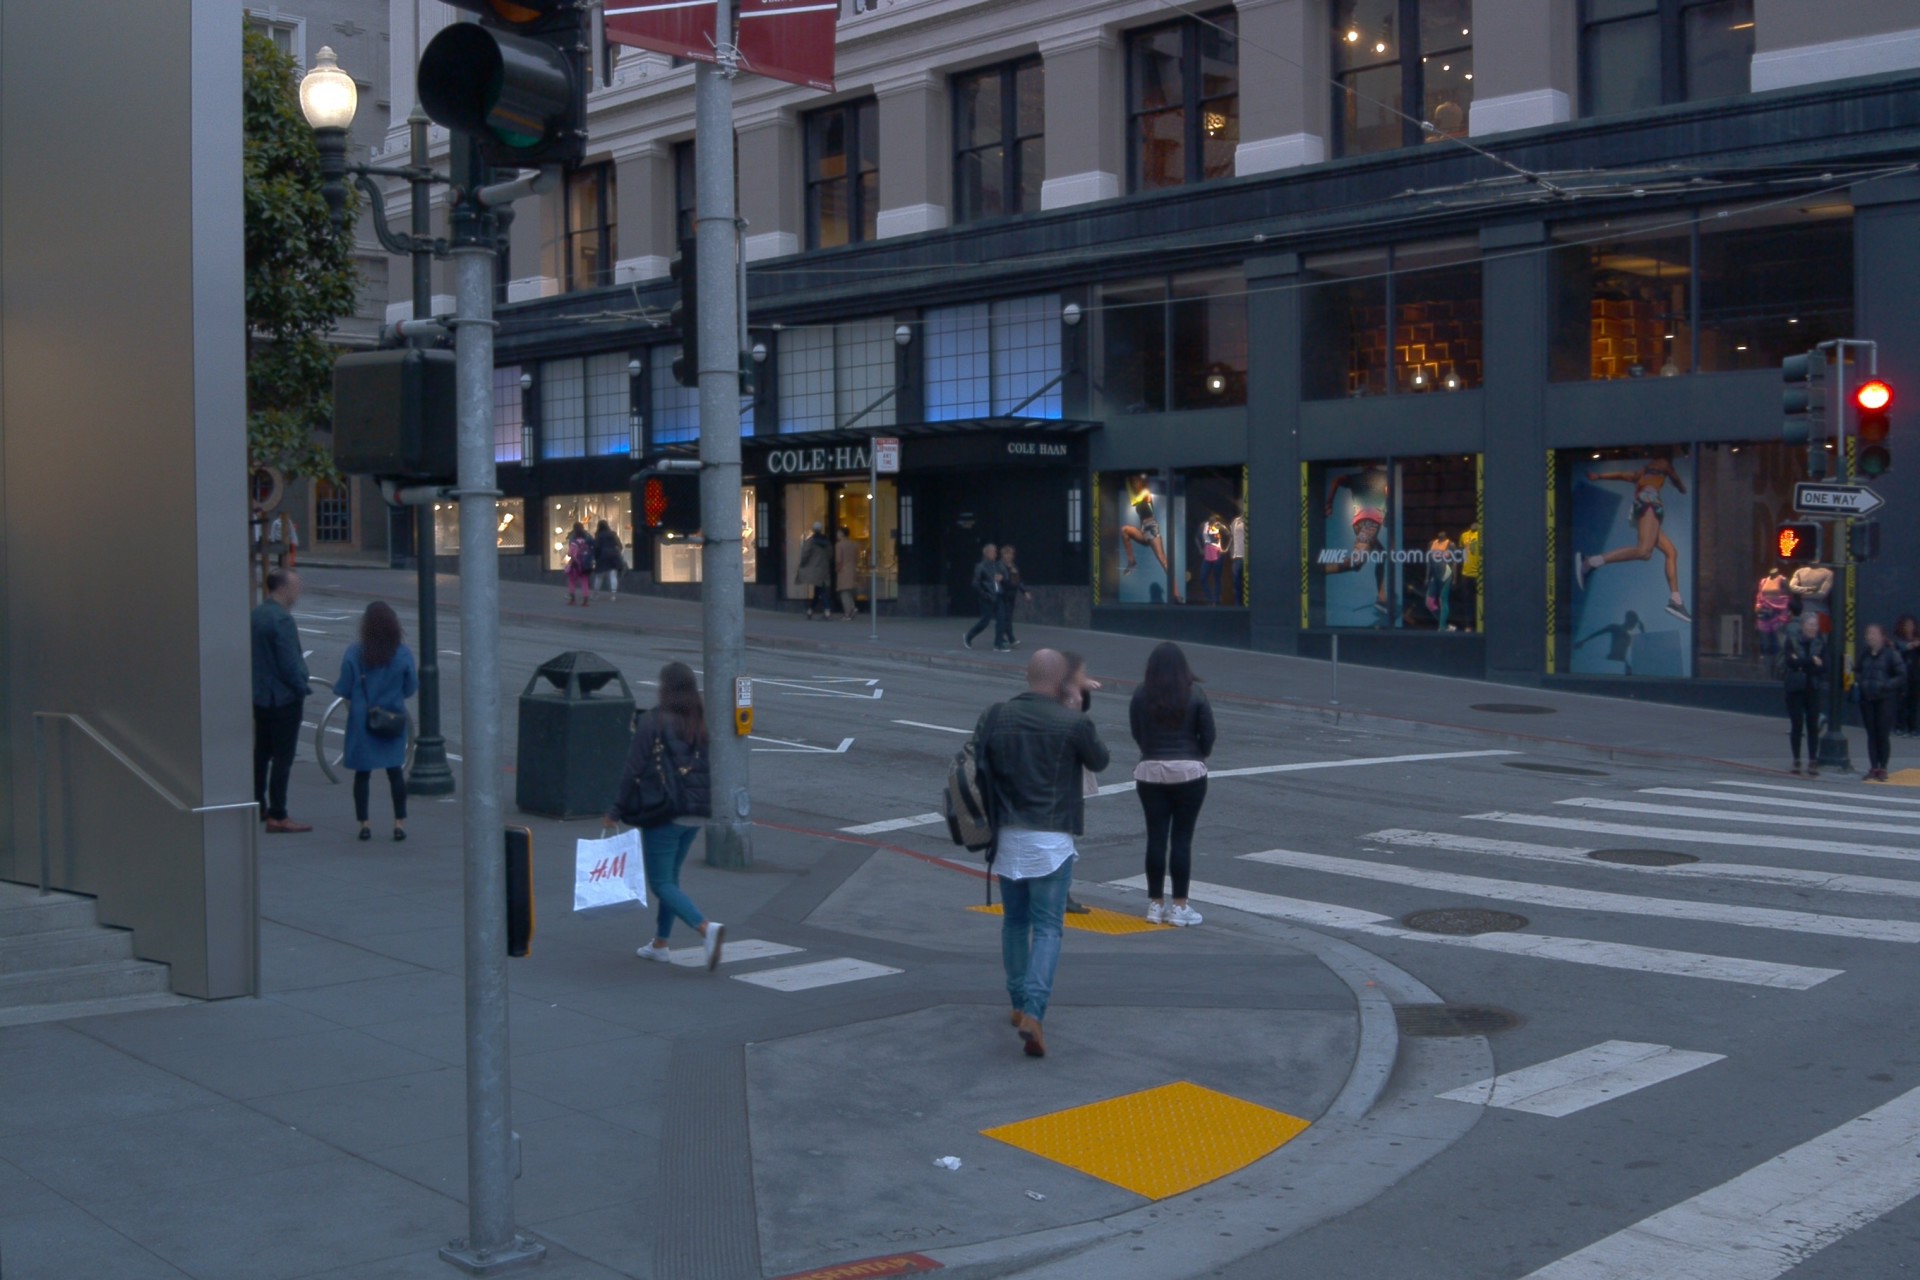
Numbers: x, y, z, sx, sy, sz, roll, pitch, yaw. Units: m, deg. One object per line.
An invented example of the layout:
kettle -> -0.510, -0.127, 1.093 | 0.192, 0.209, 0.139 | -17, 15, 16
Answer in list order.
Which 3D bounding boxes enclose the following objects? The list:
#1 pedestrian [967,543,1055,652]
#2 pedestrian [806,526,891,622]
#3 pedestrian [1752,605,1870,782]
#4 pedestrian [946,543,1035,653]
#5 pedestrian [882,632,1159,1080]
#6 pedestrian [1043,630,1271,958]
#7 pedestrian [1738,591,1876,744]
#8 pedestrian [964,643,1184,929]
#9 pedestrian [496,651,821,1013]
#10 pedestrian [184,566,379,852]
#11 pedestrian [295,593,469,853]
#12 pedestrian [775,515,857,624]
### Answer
pedestrian -> 0.796, -0.660, 31.952 | 0.891, 1.650, 1.047 | 0, 1, -43
pedestrian -> -2.006, -1.182, 37.004 | 1.109, 1.700, 1.053 | 1, 1, 40
pedestrian -> 8.945, 0.535, 21.528 | 0.895, 1.800, 1.088 | 1, 1, 36
pedestrian -> 0.465, -0.642, 31.403 | 0.891, 1.650, 1.047 | 0, 1, -43
pedestrian -> 0.294, 0.884, 9.076 | 0.927, 1.820, 1.127 | 1, 1, 19
pedestrian -> 1.200, 0.891, 12.515 | 1.113, 1.890, 0.813 | 0, 1, -32
pedestrian -> 9.980, 0.299, 24.147 | 1.078, 1.750, 1.121 | 0, 1, -41
pedestrian -> 0.722, 0.886, 13.098 | 1.002, 1.710, 0.998 | 0, 1, -33
pedestrian -> -1.502, 0.893, 10.261 | 1.098, 1.640, 1.174 | 1, 1, 40
pedestrian -> -4.864, 0.463, 14.703 | 0.981, 1.960, 0.939 | 1, 1, 37
pedestrian -> -4.057, 0.550, 14.381 | 0.951, 1.750, 0.801 | 0, 1, -37
pedestrian -> -2.577, -1.247, 36.774 | 1.104, 1.920, 0.963 | 1, 1, 40
